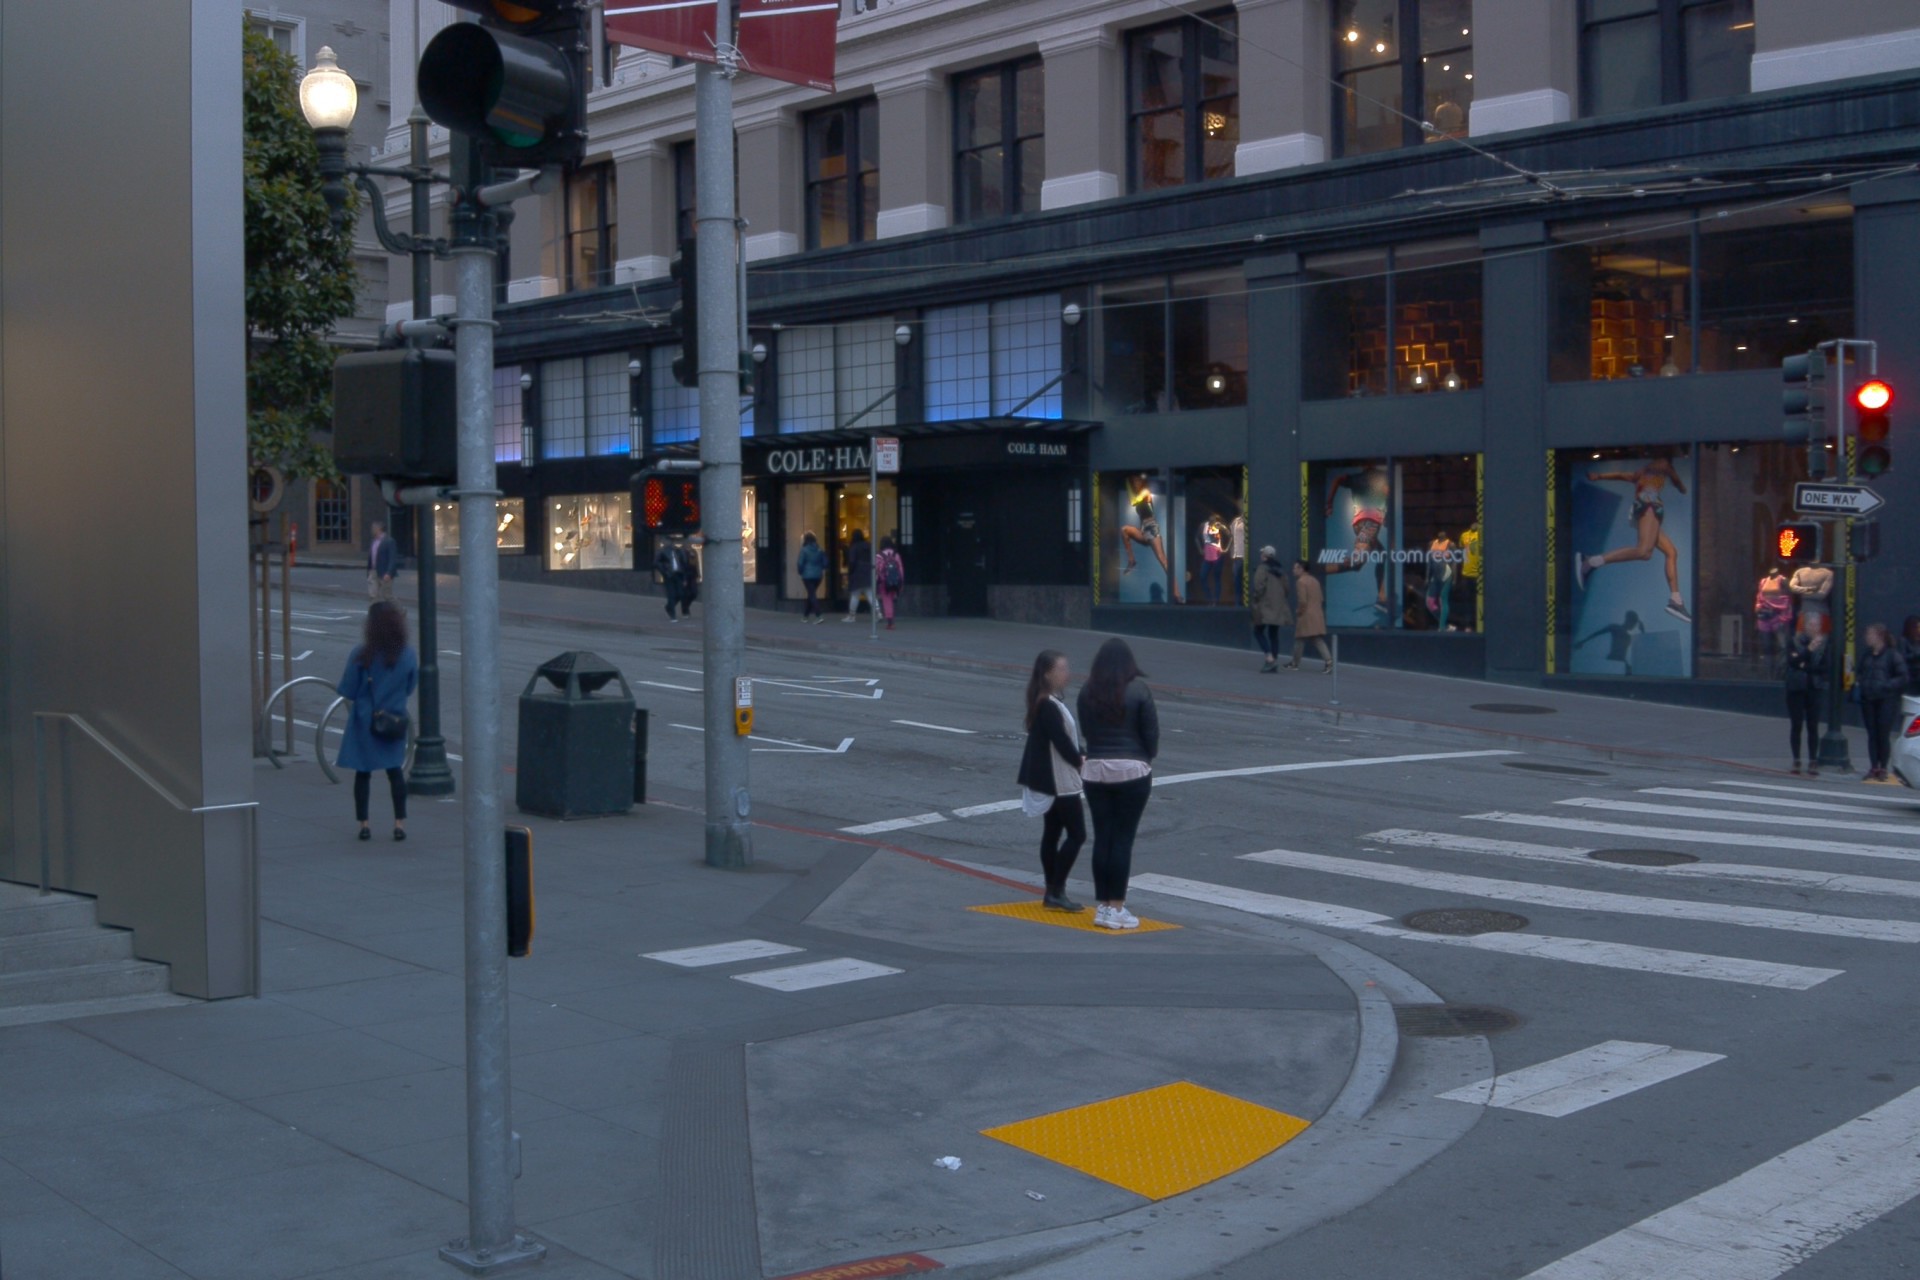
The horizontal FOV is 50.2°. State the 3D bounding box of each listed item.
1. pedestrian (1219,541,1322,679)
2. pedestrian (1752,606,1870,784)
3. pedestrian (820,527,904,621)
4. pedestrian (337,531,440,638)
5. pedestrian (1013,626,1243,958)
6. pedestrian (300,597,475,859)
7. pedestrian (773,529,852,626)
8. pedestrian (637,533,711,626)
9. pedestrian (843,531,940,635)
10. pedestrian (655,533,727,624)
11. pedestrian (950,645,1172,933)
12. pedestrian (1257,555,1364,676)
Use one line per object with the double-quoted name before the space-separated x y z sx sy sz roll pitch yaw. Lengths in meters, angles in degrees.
"pedestrian" 4.453 -0.431 29.384 1.104 1.920 0.963 1 1 43
"pedestrian" 8.945 0.549 21.527 0.895 1.800 1.088 1 1 36
"pedestrian" -1.736 -1.151 36.239 0.965 1.630 1.148 -1 1 -44
"pedestrian" -9.724 -0.933 34.890 1.093 1.780 1.343 1 1 22
"pedestrian" 1.010 0.865 12.353 1.113 1.890 0.813 0 1 -33
"pedestrian" -3.996 0.579 14.300 0.951 1.750 0.801 0 1 -37
"pedestrian" -2.597 -1.089 36.132 0.994 1.670 0.999 0 1 -39
"pedestrian" -5.179 -1.090 37.107 0.891 1.650 1.047 0 1 -40
"pedestrian" -1.149 -0.946 34.234 1.127 1.690 1.183 0 1 -38
"pedestrian" -4.970 -1.121 37.791 0.891 1.650 1.047 0 1 -40
"pedestrian" 0.646 0.898 13.042 0.997 1.710 1.003 1 1 40
"pedestrian" 5.080 -0.360 29.682 1.108 1.700 1.053 1 1 45
